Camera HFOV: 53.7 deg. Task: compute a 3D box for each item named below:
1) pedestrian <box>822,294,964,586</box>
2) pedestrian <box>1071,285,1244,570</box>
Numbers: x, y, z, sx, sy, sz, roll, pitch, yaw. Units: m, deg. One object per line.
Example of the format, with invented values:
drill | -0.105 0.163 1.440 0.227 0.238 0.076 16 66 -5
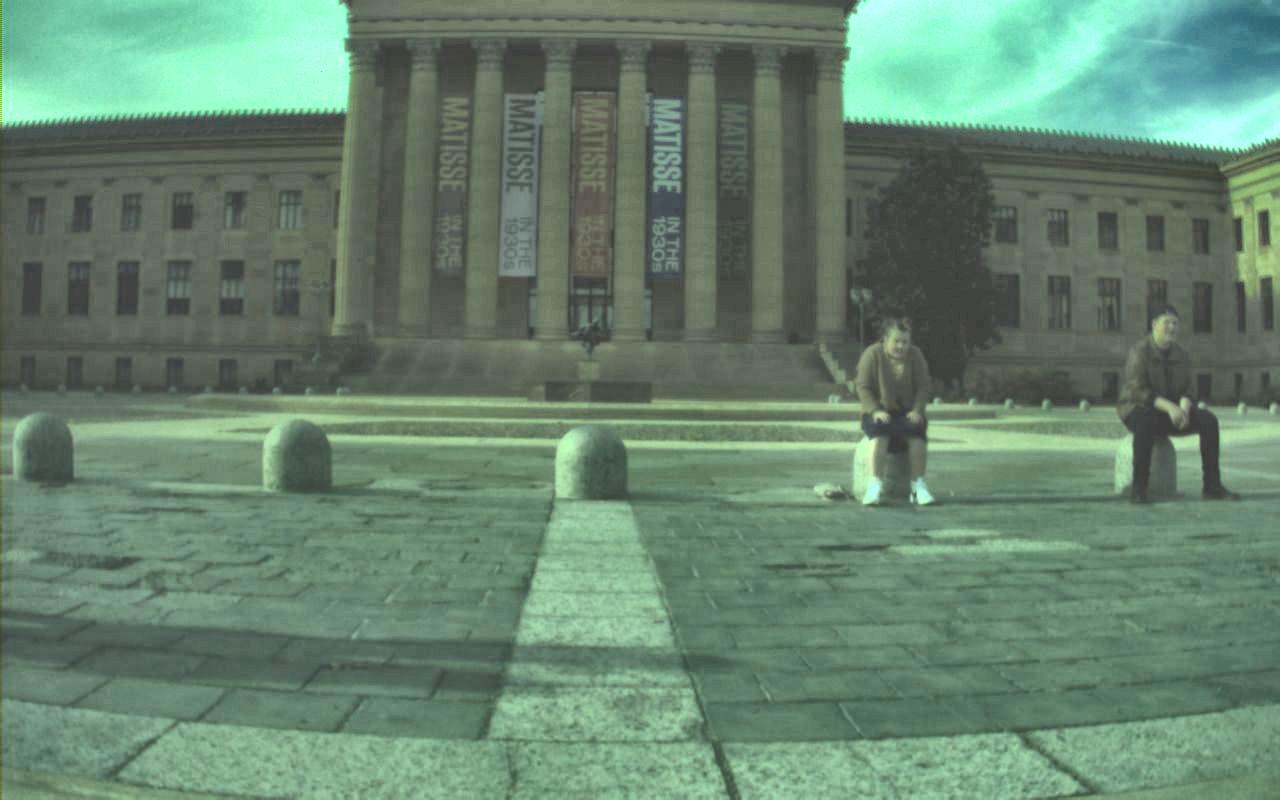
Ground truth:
pedestrian | 1.592 0.242 7.879 0.835 1.766 0.822 0 0 9
pedestrian | 3.496 0.180 7.903 0.853 1.797 0.854 0 0 -23
